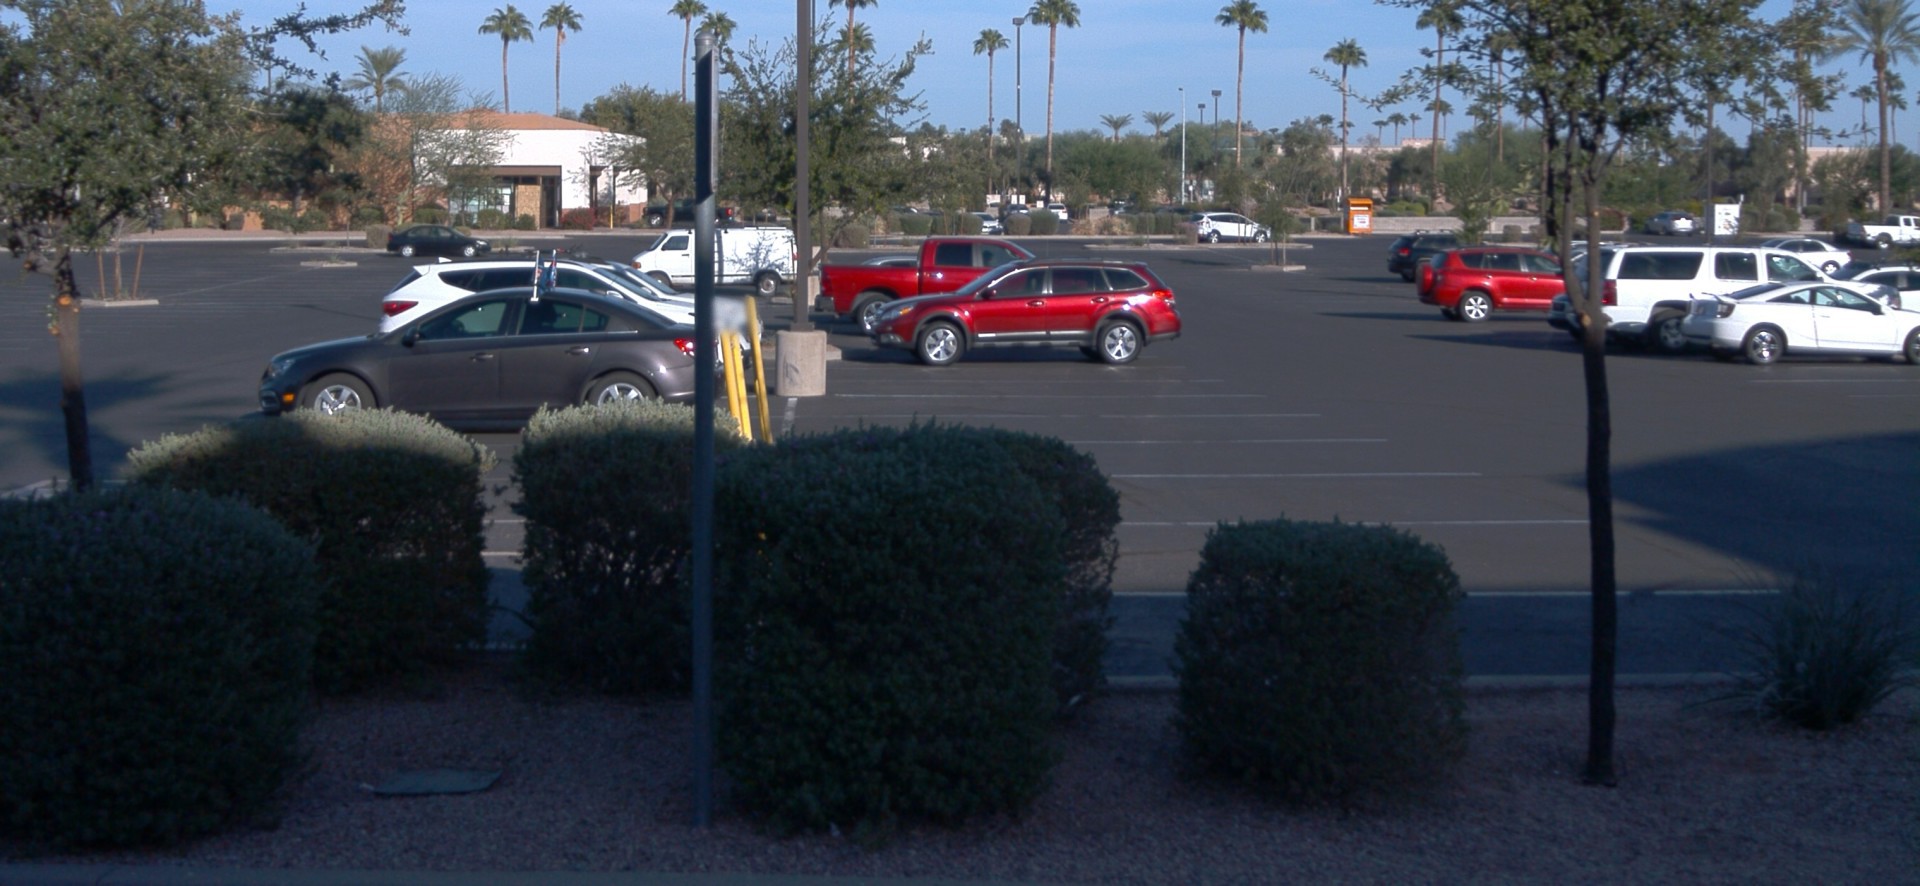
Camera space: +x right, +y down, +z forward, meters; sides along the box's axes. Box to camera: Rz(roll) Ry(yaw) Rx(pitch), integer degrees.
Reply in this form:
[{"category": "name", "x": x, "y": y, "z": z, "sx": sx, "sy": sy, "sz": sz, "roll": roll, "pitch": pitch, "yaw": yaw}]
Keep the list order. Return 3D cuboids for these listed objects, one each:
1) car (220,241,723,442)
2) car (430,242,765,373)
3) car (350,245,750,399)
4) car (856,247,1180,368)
[{"category": "car", "x": -4.804, "y": -1.082, "z": 20.966, "sx": 4.638, "sy": 1.874, "sz": 2.011, "roll": 0, "pitch": 4, "yaw": -2}, {"category": "car", "x": -5.499, "y": -2.130, "z": 32.016, "sx": 4.850, "sy": 1.884, "sz": 2.126, "roll": 0, "pitch": 4, "yaw": -3}, {"category": "car", "x": -5.098, "y": -1.585, "z": 26.360, "sx": 4.706, "sy": 1.804, "sz": 2.160, "roll": 0, "pitch": 4, "yaw": -3}, {"category": "car", "x": 0.851, "y": -2.168, "z": 32.560, "sx": 4.805, "sy": 1.735, "sz": 2.226, "roll": -1, "pitch": 5, "yaw": -8}]
